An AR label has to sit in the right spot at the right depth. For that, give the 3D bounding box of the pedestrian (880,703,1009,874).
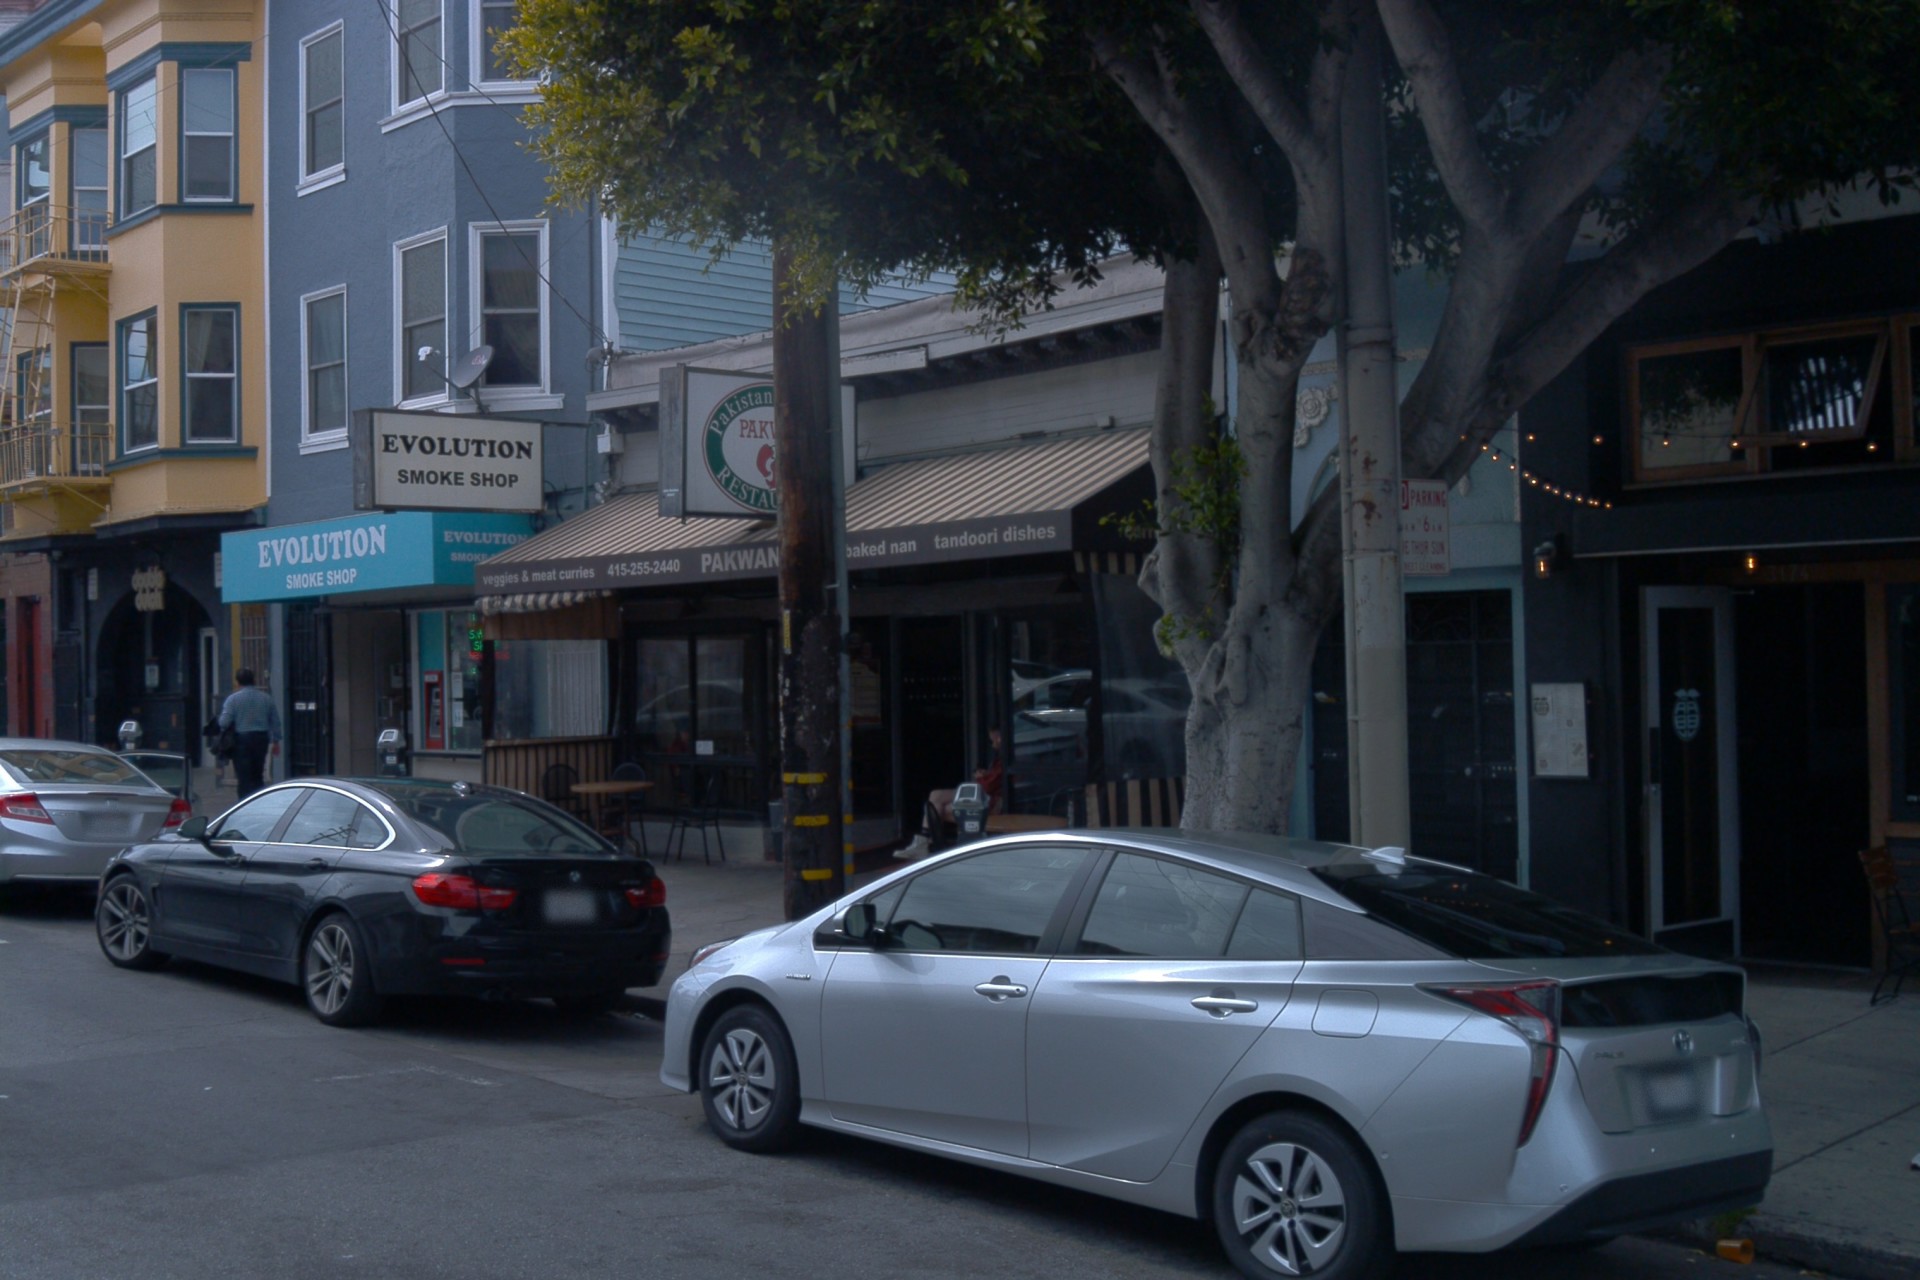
[{"bbox_3d":[-0.127,1.247,17.555,1.072,1.400,0.675,0,1,0],"label":"pedestrian"}]

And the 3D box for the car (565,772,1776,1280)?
[{"bbox_3d":[0.574,1.462,8.327,2.070,1.510,4.603,-1,1,-44],"label":"car"}]

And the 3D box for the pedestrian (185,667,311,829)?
[{"bbox_3d":[-7.939,1.177,23.033,1.069,1.724,0.964,-1,1,-37],"label":"pedestrian"}]

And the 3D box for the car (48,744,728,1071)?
[{"bbox_3d":[-3.768,1.501,13.053,4.710,1.410,2.076,0,1,45],"label":"car"}]
